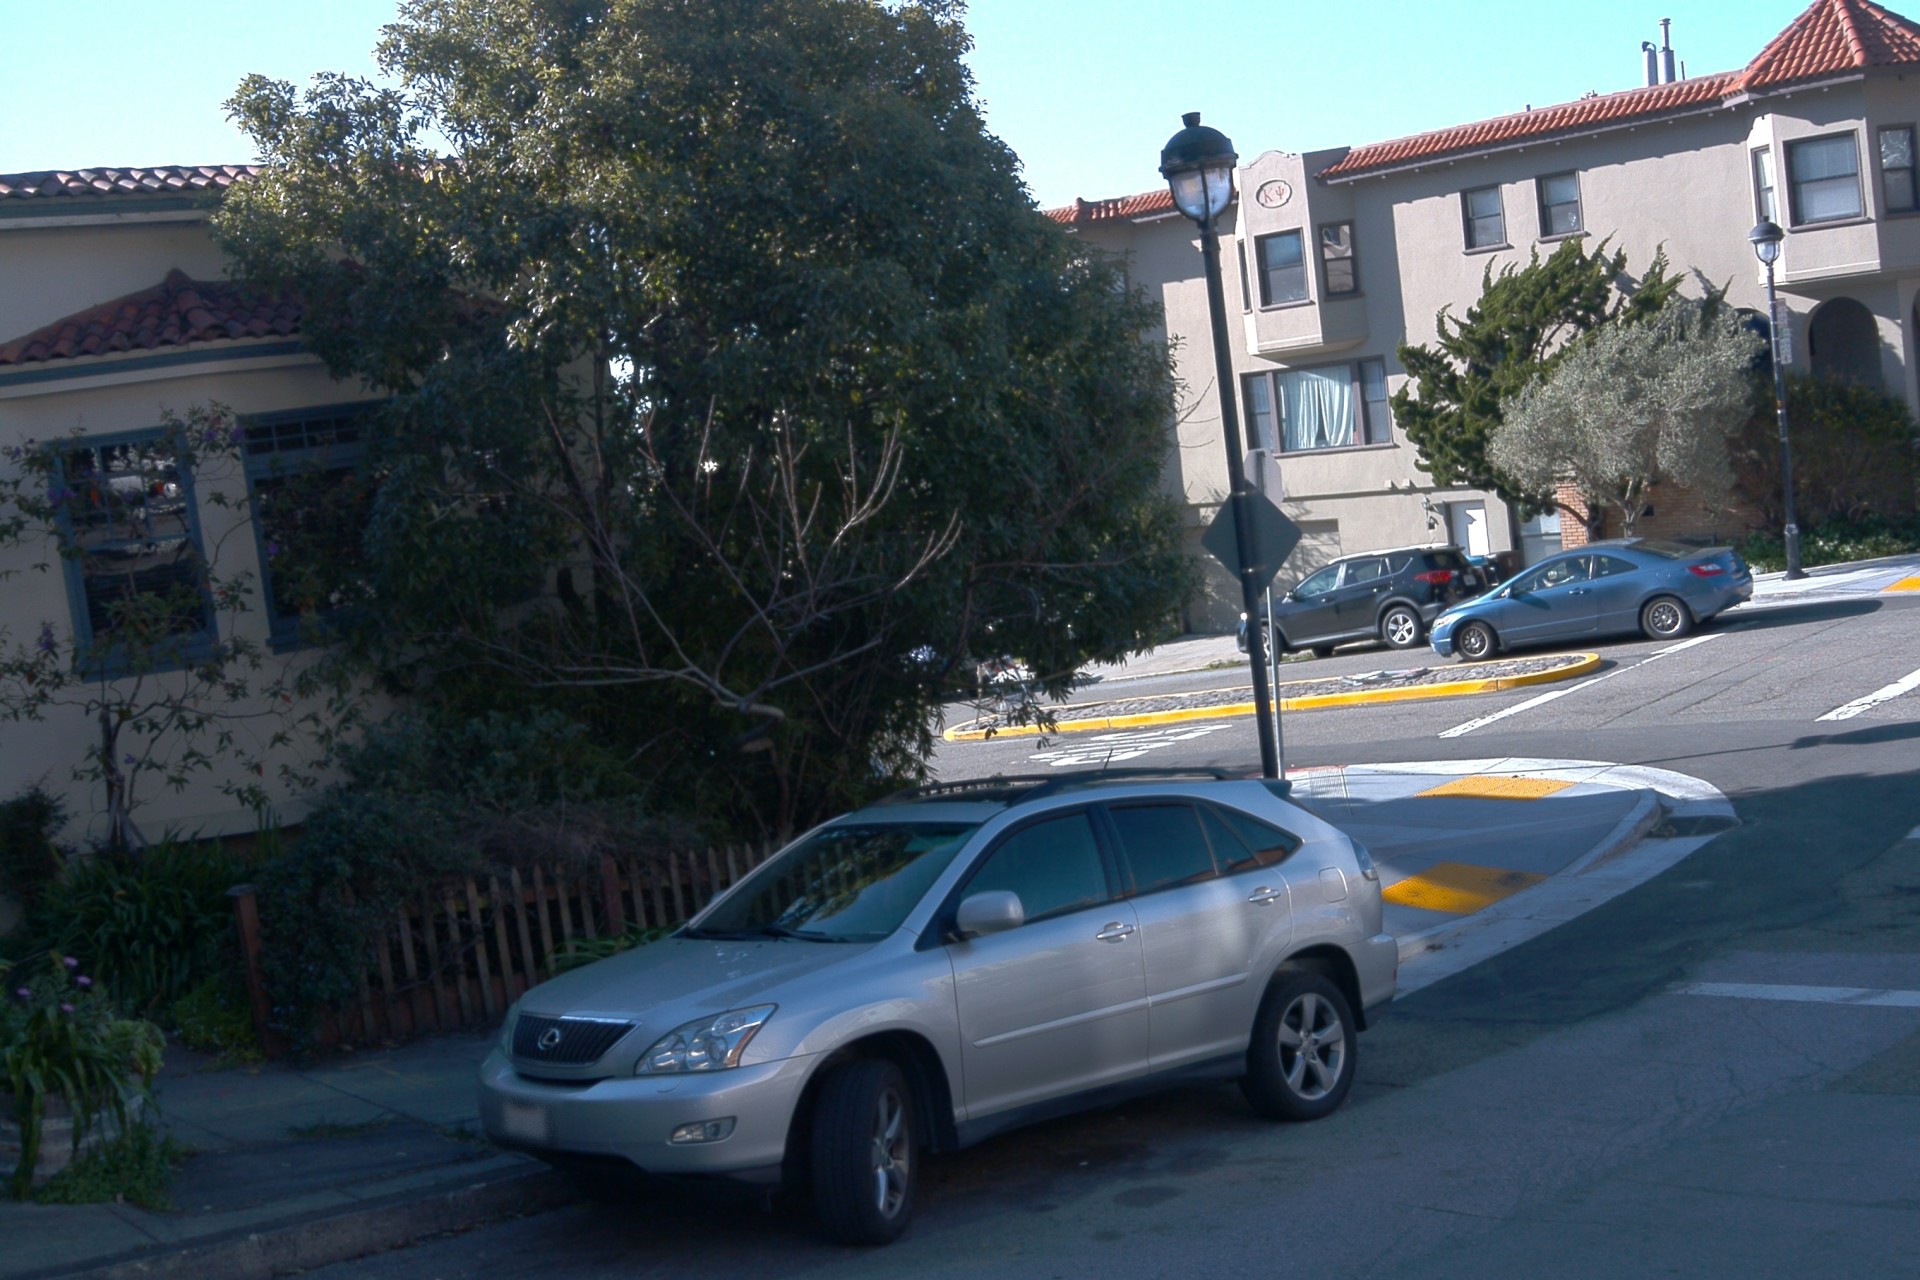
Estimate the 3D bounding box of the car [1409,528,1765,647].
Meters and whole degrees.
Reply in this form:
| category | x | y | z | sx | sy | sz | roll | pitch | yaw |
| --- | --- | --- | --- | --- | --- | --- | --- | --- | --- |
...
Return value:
| category | x | y | z | sx | sy | sz | roll | pitch | yaw |
| --- | --- | --- | --- | --- | --- | --- | --- | --- | --- |
| car | 8.692 | -0.682 | 28.866 | 4.382 | 1.530 | 1.831 | 0 | 0 | 33 |

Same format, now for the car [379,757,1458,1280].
| category | x | y | z | sx | sy | sz | roll | pitch | yaw |
| --- | --- | --- | --- | --- | --- | --- | --- | --- | --- |
| car | 0.021 | 1.585 | 9.413 | 4.666 | 1.810 | 2.097 | -1 | 0 | -42 |

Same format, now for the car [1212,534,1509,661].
| category | x | y | z | sx | sy | sz | roll | pitch | yaw |
| --- | --- | --- | --- | --- | --- | --- | --- | --- | --- |
| car | 6.804 | -0.685 | 35.525 | 2.204 | 2.020 | 4.526 | 0 | 0 | -45 |
